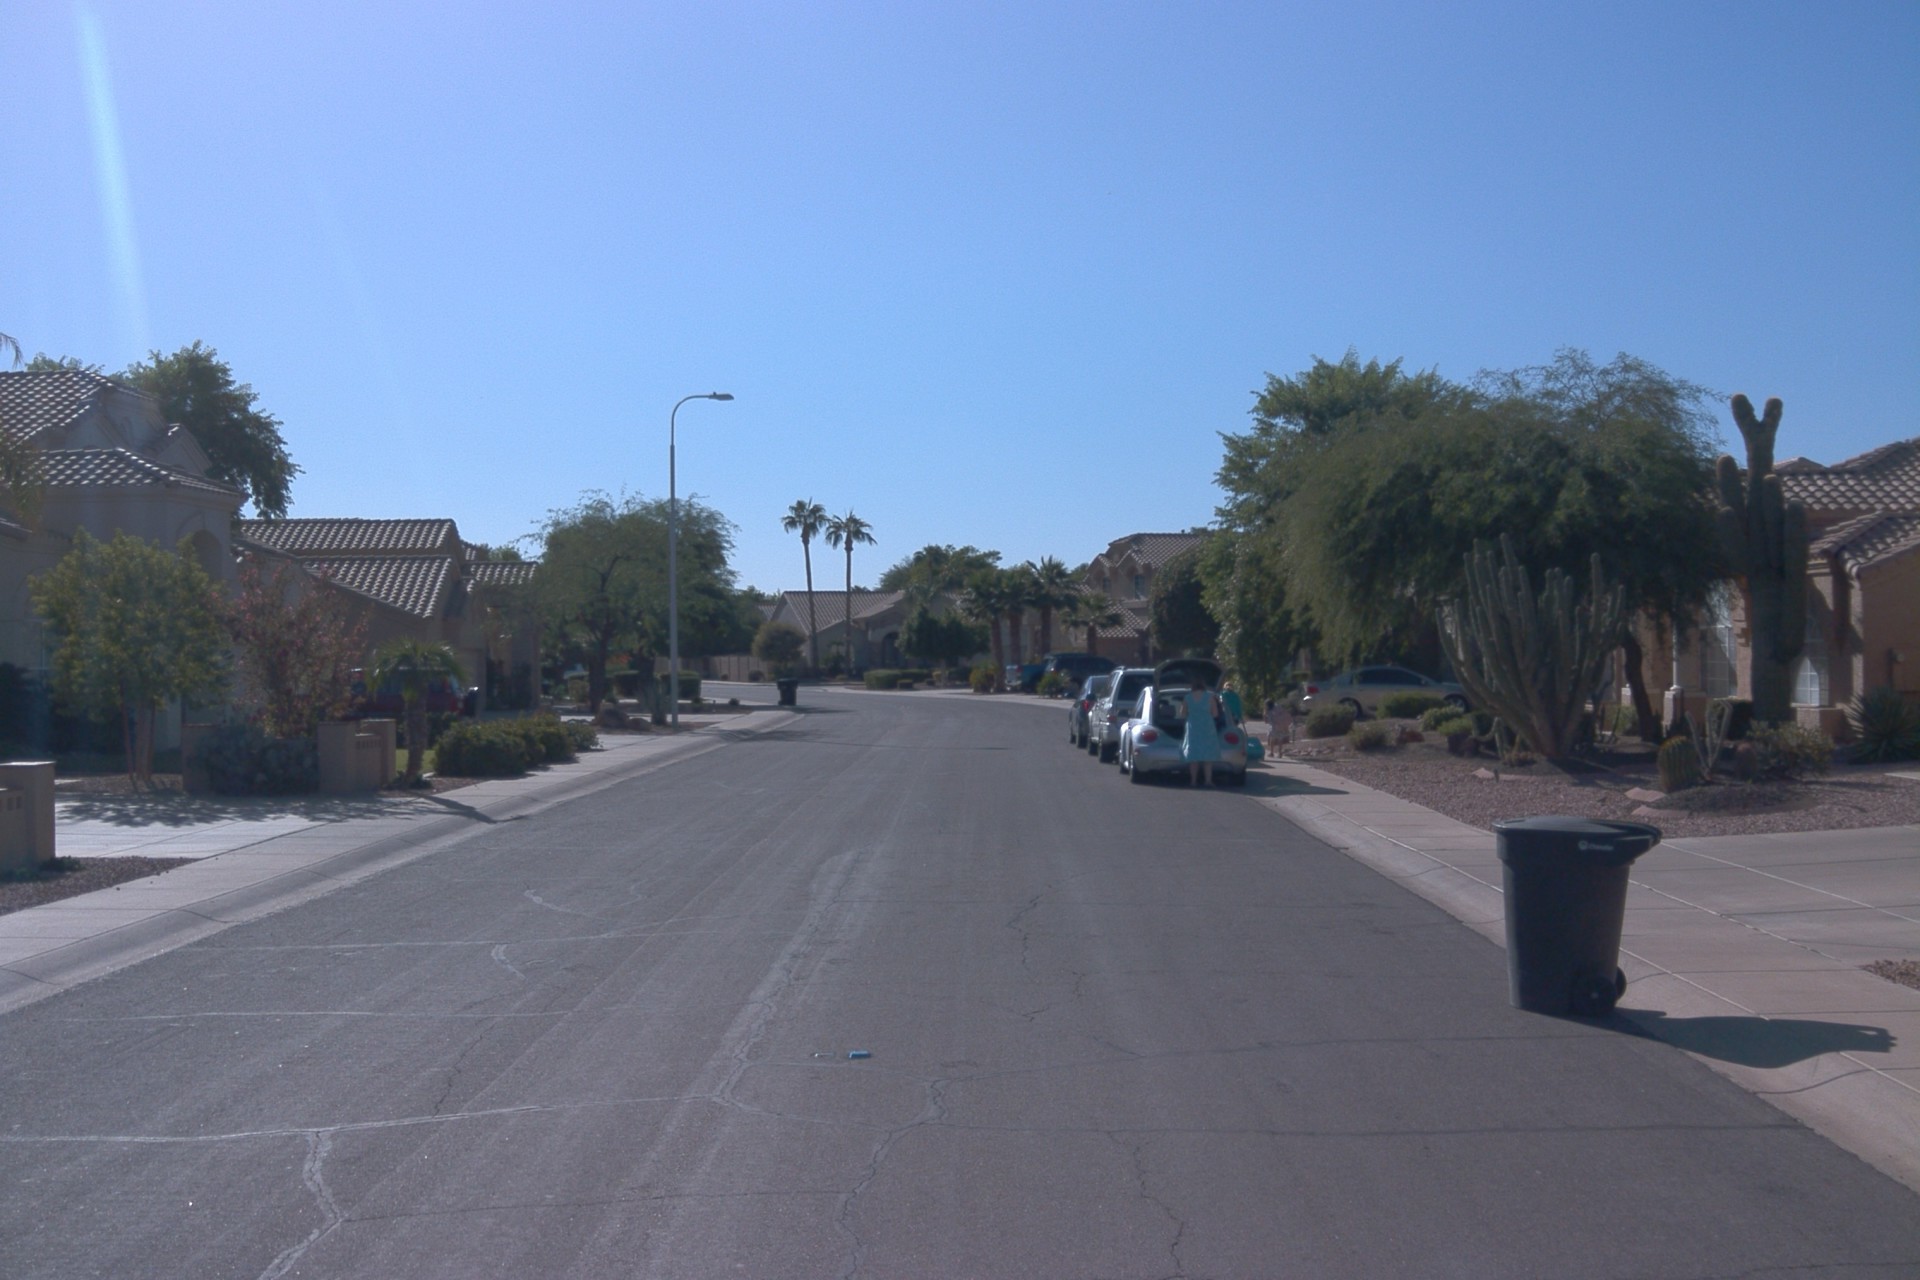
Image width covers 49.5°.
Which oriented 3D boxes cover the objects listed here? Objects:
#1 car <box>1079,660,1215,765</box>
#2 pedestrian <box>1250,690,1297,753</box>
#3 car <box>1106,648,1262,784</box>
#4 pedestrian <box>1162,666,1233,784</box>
[{"bbox_3d":[3.347,1.265,38.178,2.103,1.780,4.807,0,0,0],"label":"car"},{"bbox_3d":[5.574,1.441,37.121,0.699,1.090,0.762,0,0,-2],"label":"pedestrian"},{"bbox_3d":[3.405,1.118,32.355,1.894,1.980,4.013,0,0,-1],"label":"car"},{"bbox_3d":[3.450,1.221,30.310,0.906,1.690,0.869,0,0,-2],"label":"pedestrian"}]
